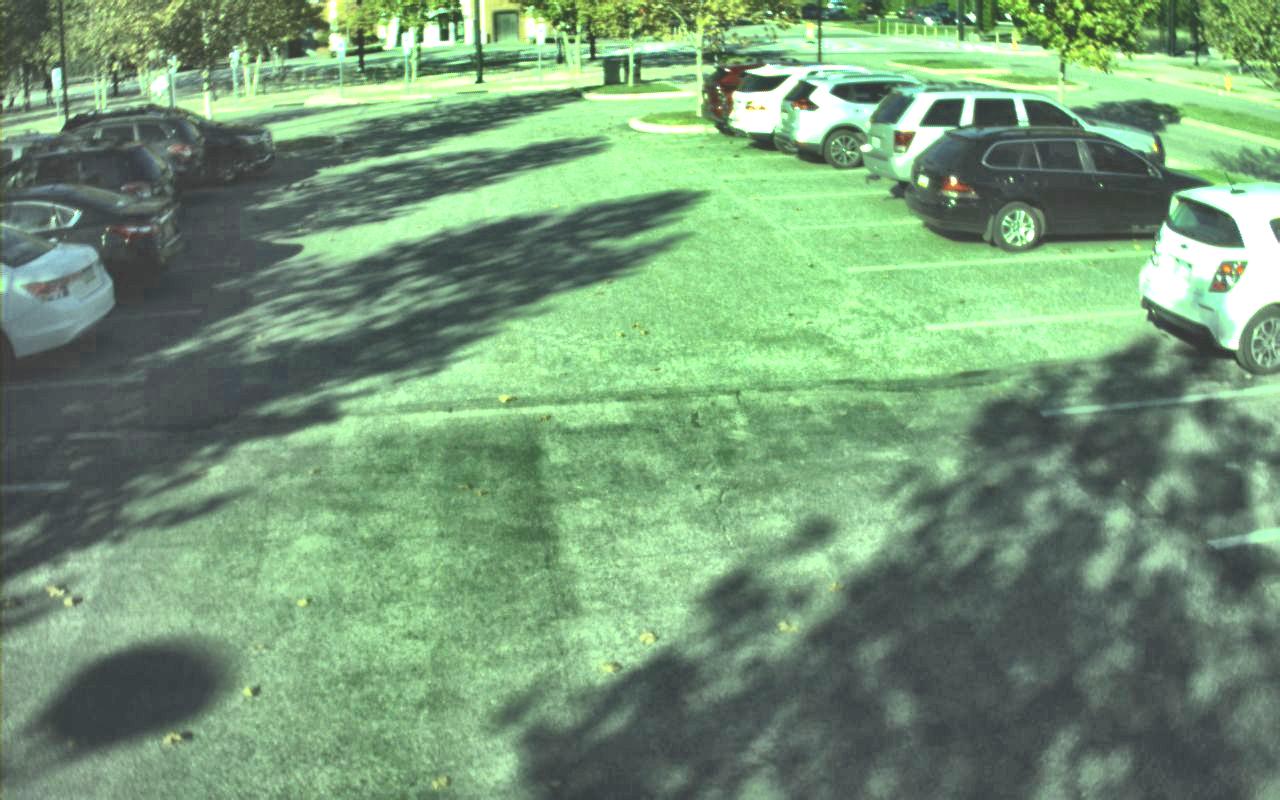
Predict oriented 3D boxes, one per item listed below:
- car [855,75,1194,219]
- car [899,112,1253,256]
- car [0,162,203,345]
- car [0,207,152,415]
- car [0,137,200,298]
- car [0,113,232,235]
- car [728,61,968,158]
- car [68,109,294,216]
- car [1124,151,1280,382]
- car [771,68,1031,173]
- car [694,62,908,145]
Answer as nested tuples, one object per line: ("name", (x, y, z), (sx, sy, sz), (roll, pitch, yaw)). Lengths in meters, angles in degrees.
("car", (5.741, -3.774, 17.858), (4.819, 1.871, 2.071), (-3, 16, -6))
("car", (5.707, -2.827, 15.428), (4.437, 1.553, 1.926), (-3, 16, -8))
("car", (-7.590, -1.786, 13.784), (4.354, 1.591, 1.936), (-4, 16, -9))
("car", (-7.363, -0.882, 11.326), (4.374, 1.566, 1.935), (-2, 16, -3))
("car", (-8.580, -2.576, 16.036), (4.452, 1.663, 1.982), (-3, 16, -6))
("car", (-9.887, -4.146, 21.200), (4.476, 1.684, 1.996), (-2, 16, -3))
("car", (4.230, -5.978, 25.120), (4.565, 1.828, 2.012), (-4, 16, -9))
("car", (-9.427, -4.869, 24.089), (4.508, 1.643, 1.980), (-3, 16, -7))
("car", (6.838, -1.325, 10.464), (4.267, 1.687, 1.920), (-3, 16, -7))
("car", (4.845, -5.218, 22.727), (4.508, 1.786, 1.985), (-3, 16, -7))
("car", (3.609, -6.743, 27.859), (4.491, 1.748, 2.003), (-4, 16, -8))
